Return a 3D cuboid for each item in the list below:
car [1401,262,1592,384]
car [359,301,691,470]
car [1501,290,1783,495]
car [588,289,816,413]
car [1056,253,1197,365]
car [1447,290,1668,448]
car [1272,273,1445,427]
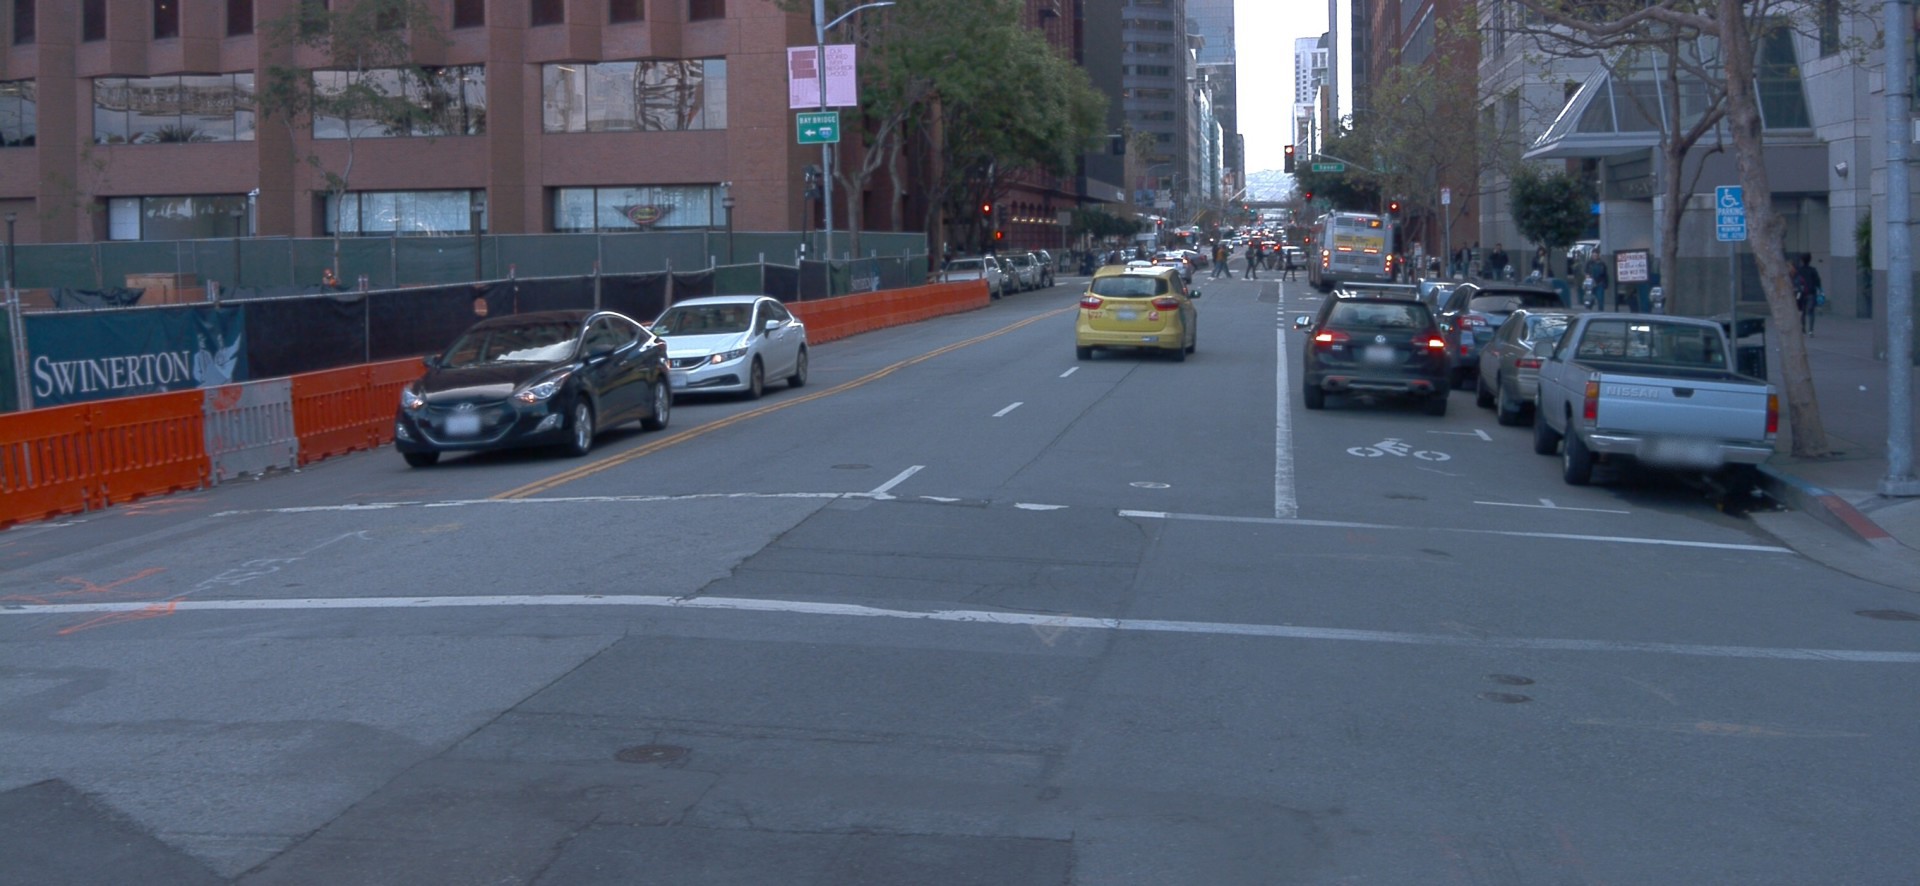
[{"bbox_3d":[8.163,-1.924,31.850,2.261,1.664,4.949,0,5,7],"label":"car"},{"bbox_3d":[-4.404,-0.703,21.719,1.996,1.424,4.629,0,5,7],"label":"car"},{"bbox_3d":[6.417,-0.608,19.938,1.863,1.604,4.695,1,5,9],"label":"car"},{"bbox_3d":[-3.549,-1.379,29.337,2.056,1.494,4.643,1,5,8],"label":"car"},{"bbox_3d":[2.972,-2.396,35.947,2.178,1.784,4.423,0,5,8],"label":"car"},{"bbox_3d":[7.326,-1.019,25.762,2.108,1.654,4.603,1,5,9],"label":"car"},{"bbox_3d":[5.173,-1.291,26.756,2.035,1.754,4.228,1,5,11],"label":"car"}]
